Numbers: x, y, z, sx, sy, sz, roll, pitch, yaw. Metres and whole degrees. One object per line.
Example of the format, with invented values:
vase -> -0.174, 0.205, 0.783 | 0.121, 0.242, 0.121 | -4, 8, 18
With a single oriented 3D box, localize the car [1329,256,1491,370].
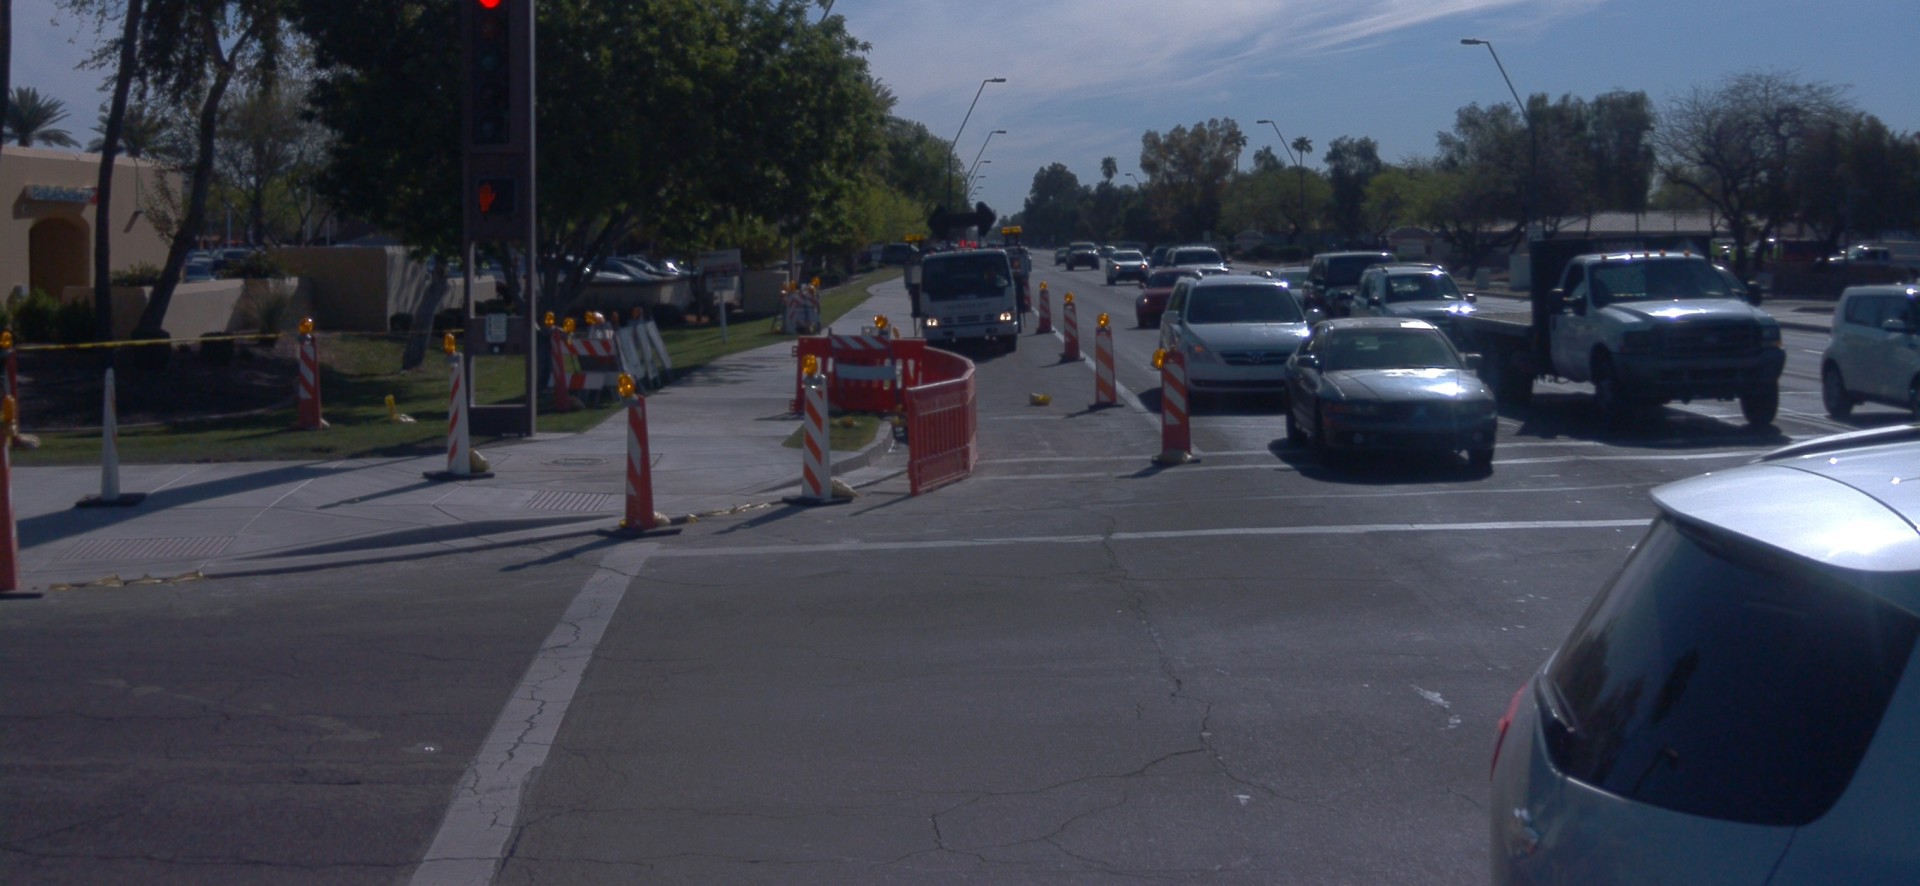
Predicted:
car -> 7.947, -2.381, 37.110 | 1.927, 1.874, 4.498 | 0, 5, 0

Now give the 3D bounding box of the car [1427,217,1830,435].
car -> 8.242, -1.663, 26.775 | 2.747, 2.391, 7.652 | 0, 5, 0

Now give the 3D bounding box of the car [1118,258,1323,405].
car -> 3.617, -1.695, 29.916 | 2.419, 1.873, 5.332 | 0, 5, 1

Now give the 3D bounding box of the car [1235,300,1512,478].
car -> 4.153, -0.662, 21.671 | 2.047, 1.514, 4.733 | 0, 5, 1
